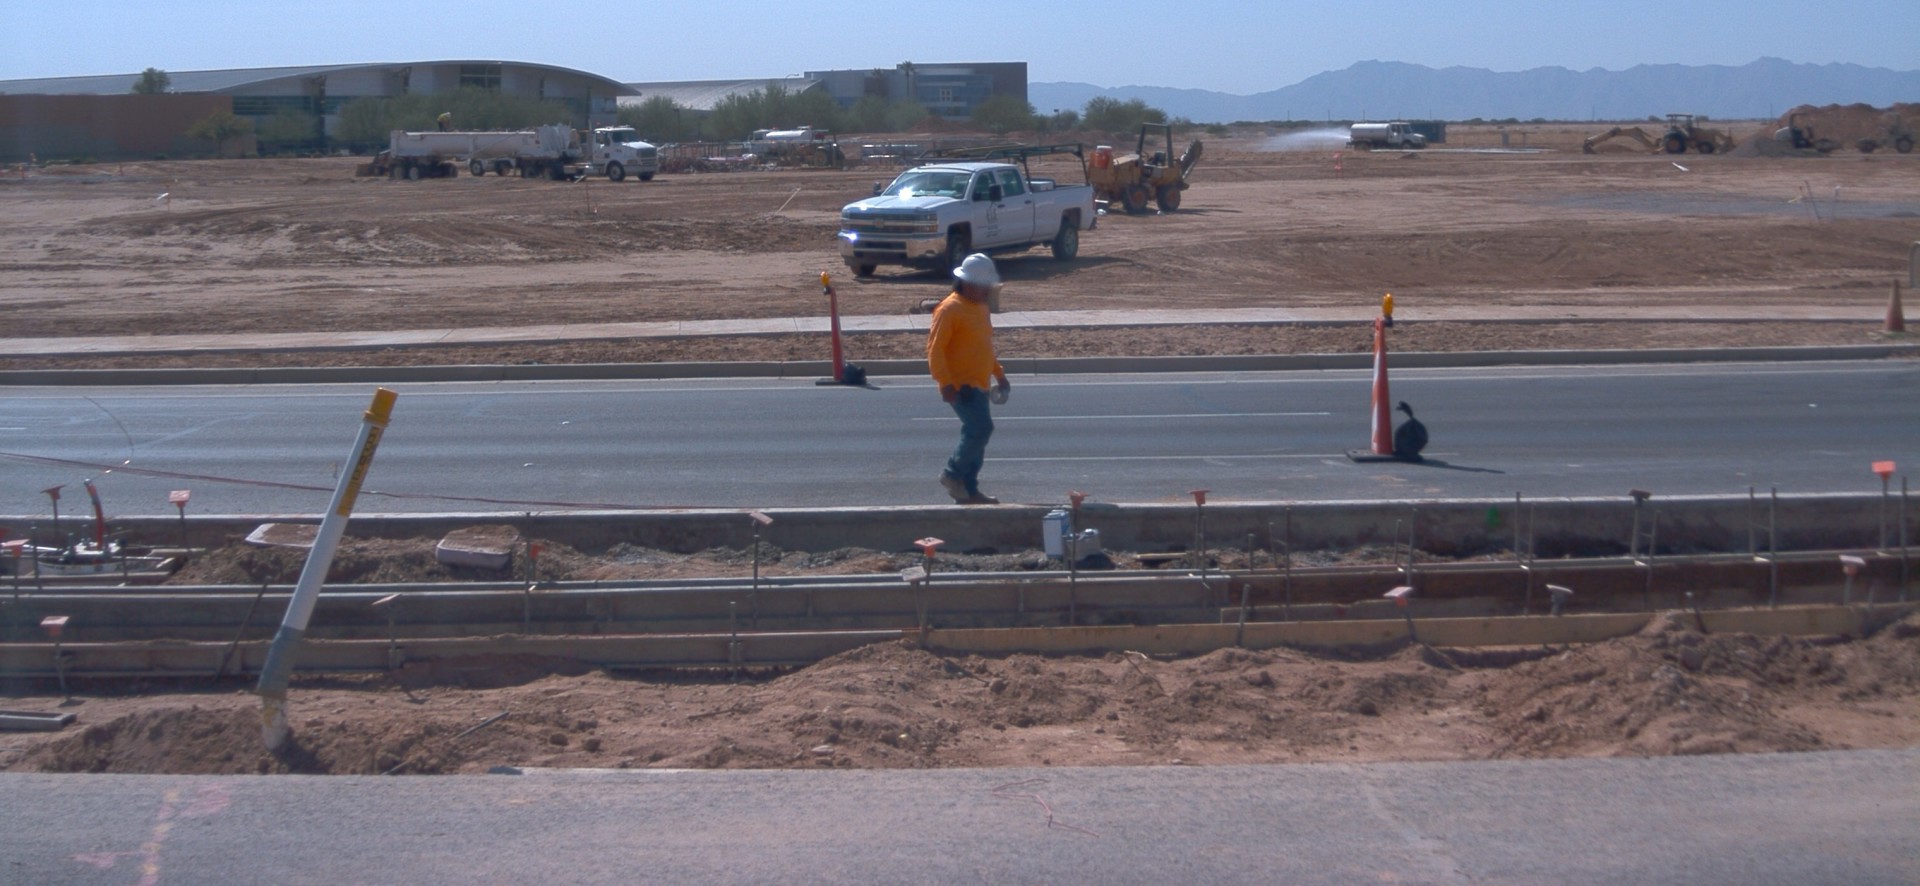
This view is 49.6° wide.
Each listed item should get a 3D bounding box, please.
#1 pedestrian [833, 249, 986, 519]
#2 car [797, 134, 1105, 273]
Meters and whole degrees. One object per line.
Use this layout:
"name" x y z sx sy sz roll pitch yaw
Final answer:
"pedestrian" -0.330 -0.431 13.996 0.735 1.738 0.871 0 2 21
"car" 0.018 -4.375 38.093 2.579 2.300 6.904 2 6 29
